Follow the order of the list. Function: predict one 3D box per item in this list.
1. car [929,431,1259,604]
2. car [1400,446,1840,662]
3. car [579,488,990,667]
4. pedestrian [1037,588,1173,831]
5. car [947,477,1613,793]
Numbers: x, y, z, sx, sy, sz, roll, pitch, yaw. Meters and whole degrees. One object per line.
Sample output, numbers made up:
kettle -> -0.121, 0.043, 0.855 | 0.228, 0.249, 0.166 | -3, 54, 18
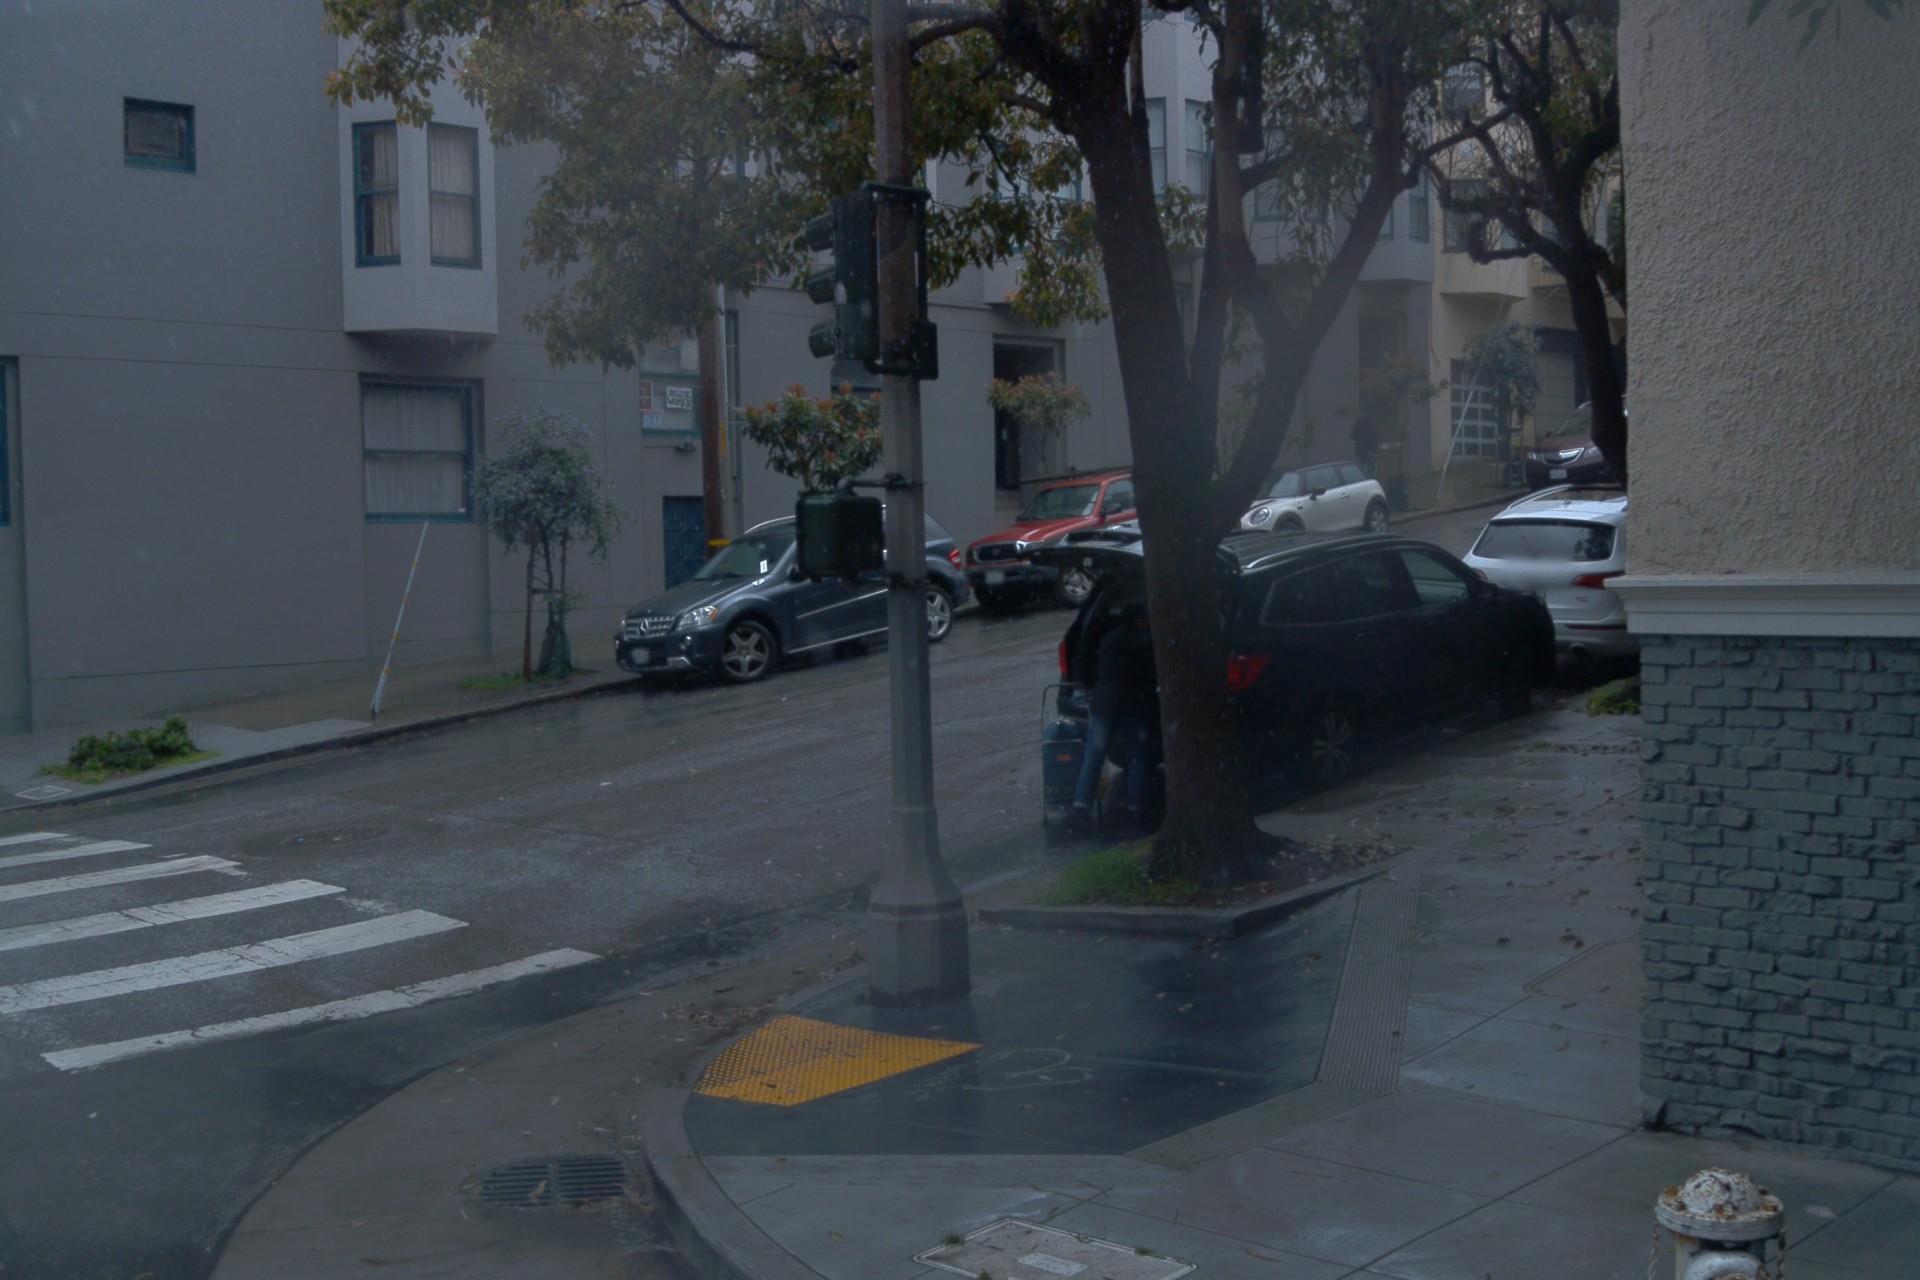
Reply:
car -> 1.982, -1.646, 29.237 | 4.537, 2.180, 2.259 | 0, 0, -45
car -> 6.521, -0.724, 19.879 | 2.355, 1.840, 4.675 | 0, 0, 42
car -> -2.052, -0.681, 24.963 | 2.225, 1.980, 4.671 | 0, 0, 45
pedestrian -> 1.024, 0.468, 14.253 | 0.793, 1.634, 0.885 | 0, 0, 15
car -> 2.721, -0.024, 16.096 | 2.384, 2.040, 5.680 | 0, 0, 43
